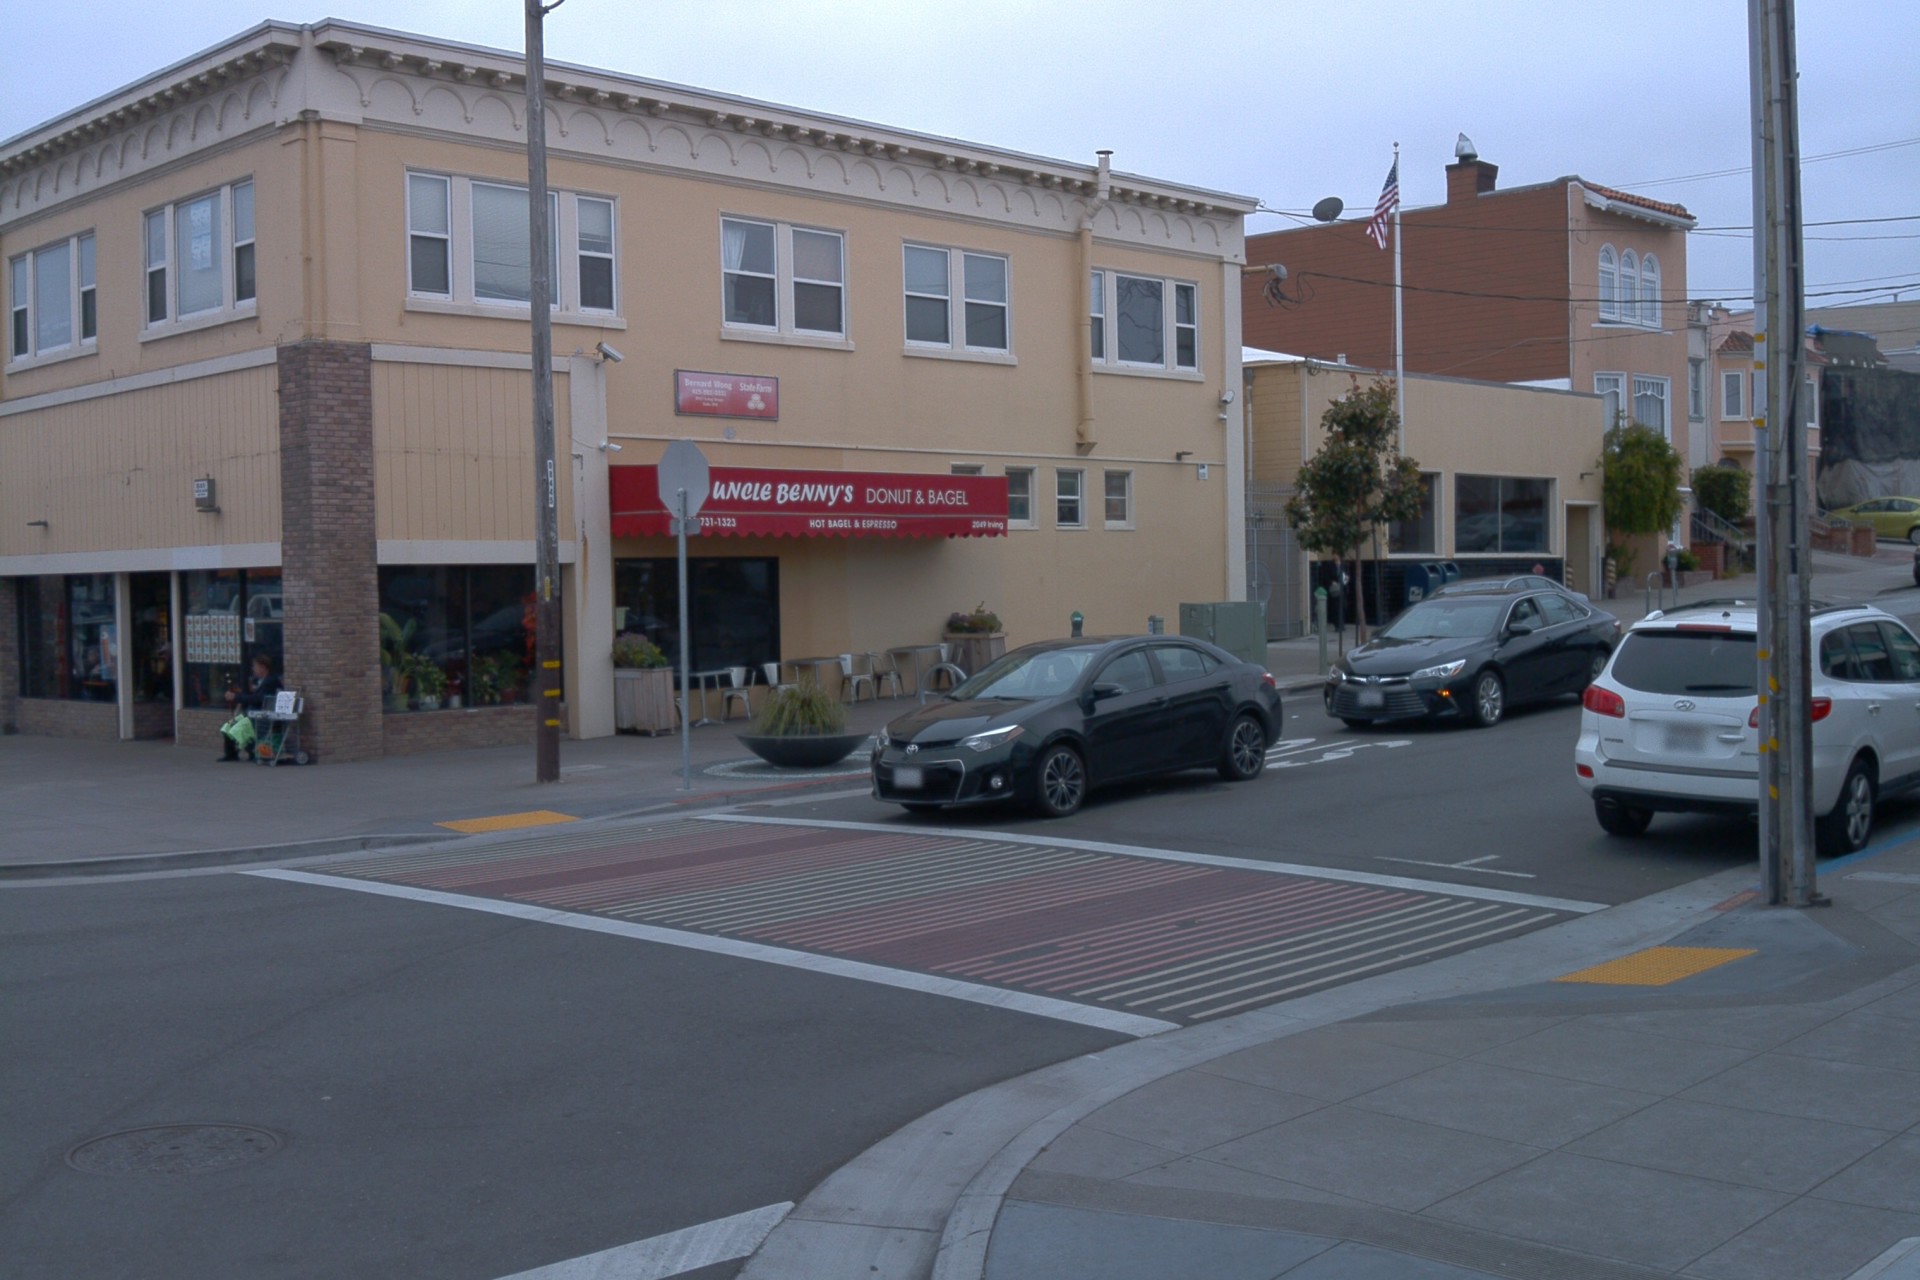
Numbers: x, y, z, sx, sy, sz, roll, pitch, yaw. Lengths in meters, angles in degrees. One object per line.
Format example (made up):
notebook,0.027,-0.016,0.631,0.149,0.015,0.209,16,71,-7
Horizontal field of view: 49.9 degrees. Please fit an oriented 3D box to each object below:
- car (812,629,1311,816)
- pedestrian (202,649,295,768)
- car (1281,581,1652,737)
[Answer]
car,1.035,0.632,18.549,2.067,1.440,4.540,0,1,42
pedestrian,-8.561,0.807,24.839,0.878,1.374,0.735,1,1,44
car,6.053,0.179,24.302,2.082,1.644,4.864,1,1,44
